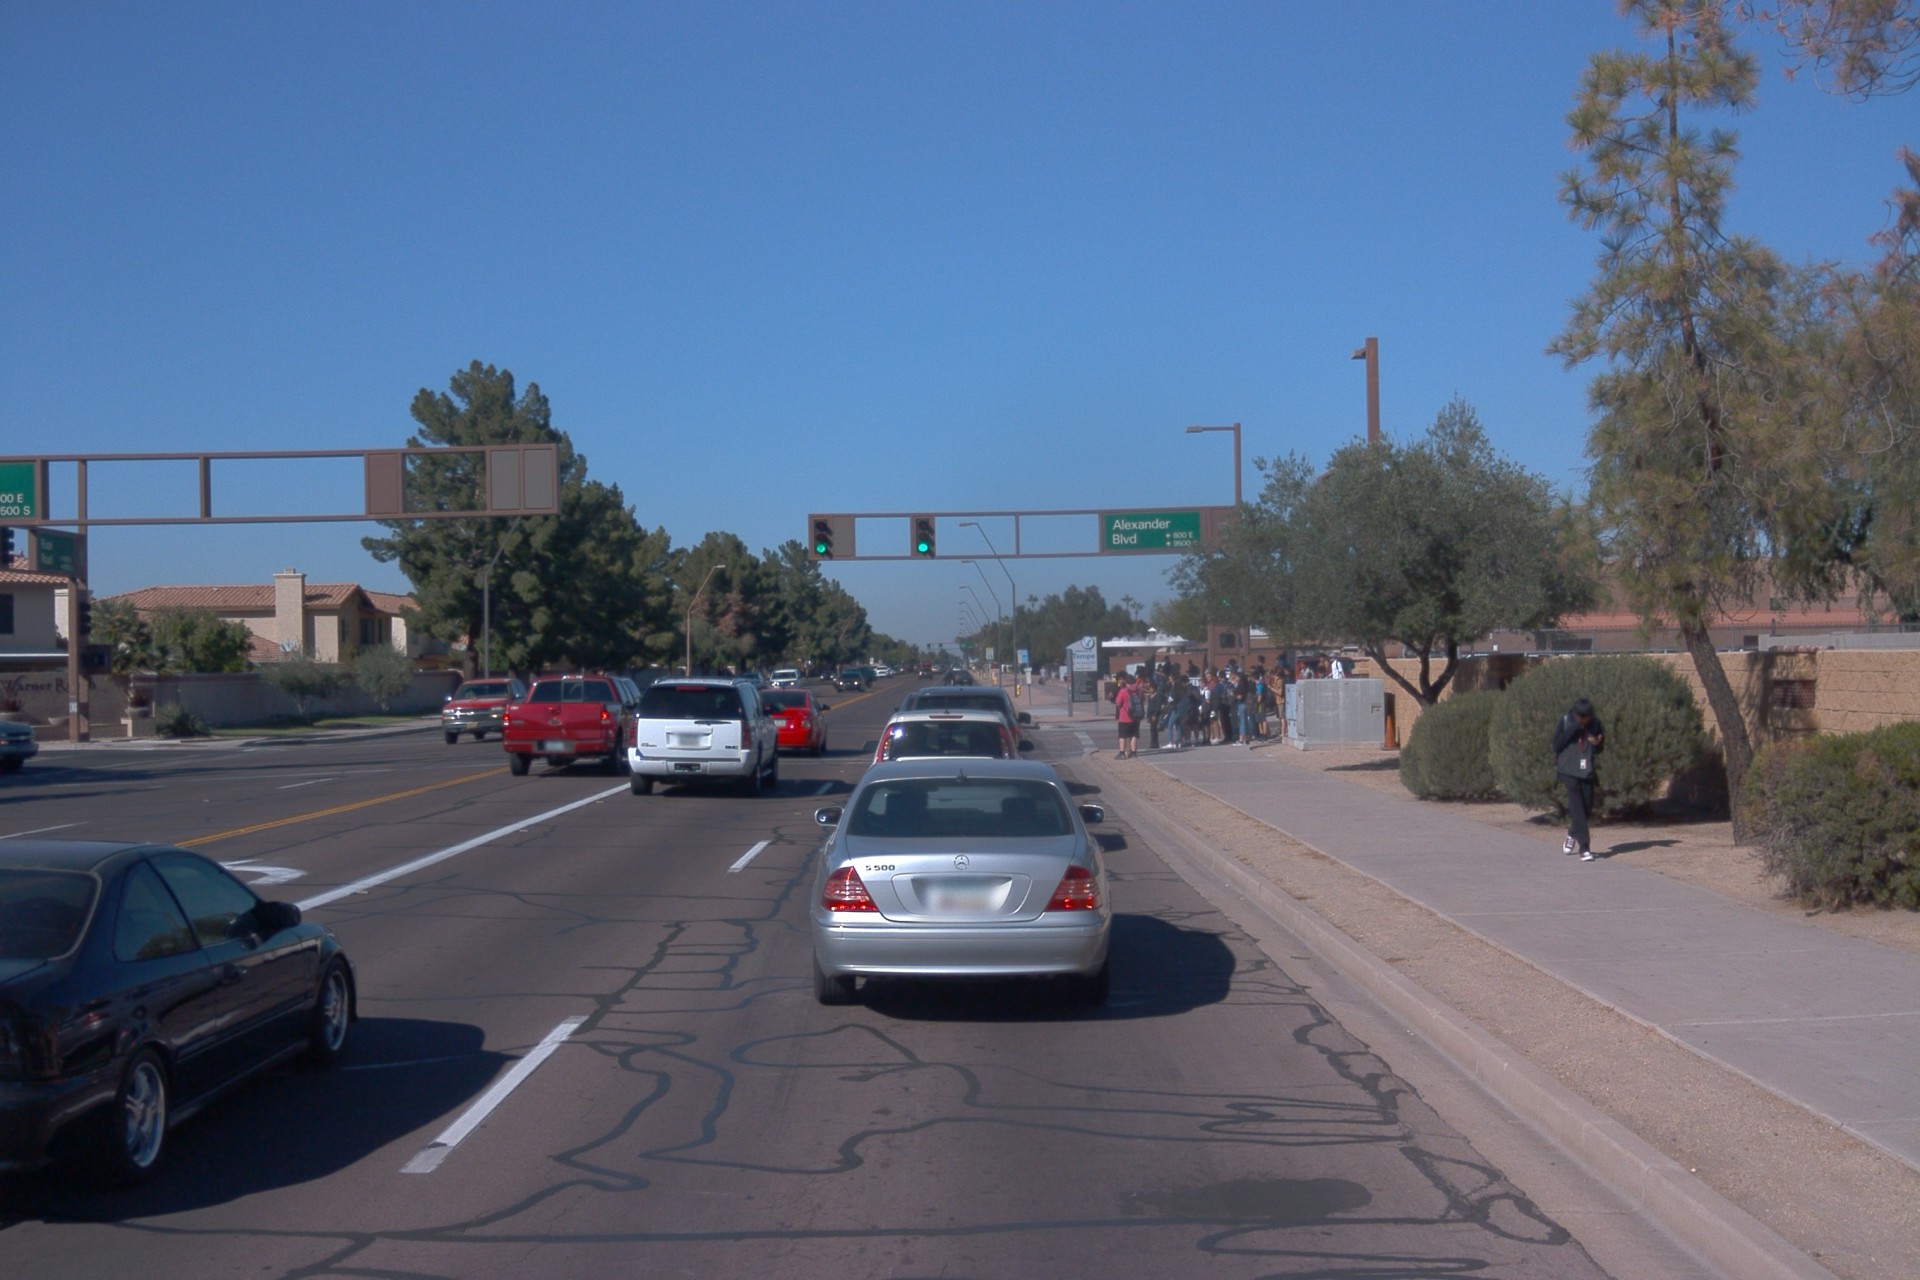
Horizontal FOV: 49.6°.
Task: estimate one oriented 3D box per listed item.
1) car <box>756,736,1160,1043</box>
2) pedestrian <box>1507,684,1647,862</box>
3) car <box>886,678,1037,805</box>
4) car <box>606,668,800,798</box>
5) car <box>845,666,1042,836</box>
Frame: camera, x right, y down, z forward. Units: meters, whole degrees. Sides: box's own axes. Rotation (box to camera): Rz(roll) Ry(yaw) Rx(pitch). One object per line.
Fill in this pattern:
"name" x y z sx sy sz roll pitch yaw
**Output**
"car" -0.005 1.503 13.946 2.265 1.600 4.514 0 -1 0
"pedestrian" 5.880 1.251 19.871 1.000 1.650 1.000 0 -1 -3
"car" 0.112 1.620 34.636 2.322 1.950 4.955 0 -1 2
"car" -4.116 1.465 34.253 2.513 1.980 4.967 0 -1 1
"car" -0.126 1.197 23.895 2.056 1.760 4.487 0 -1 1
